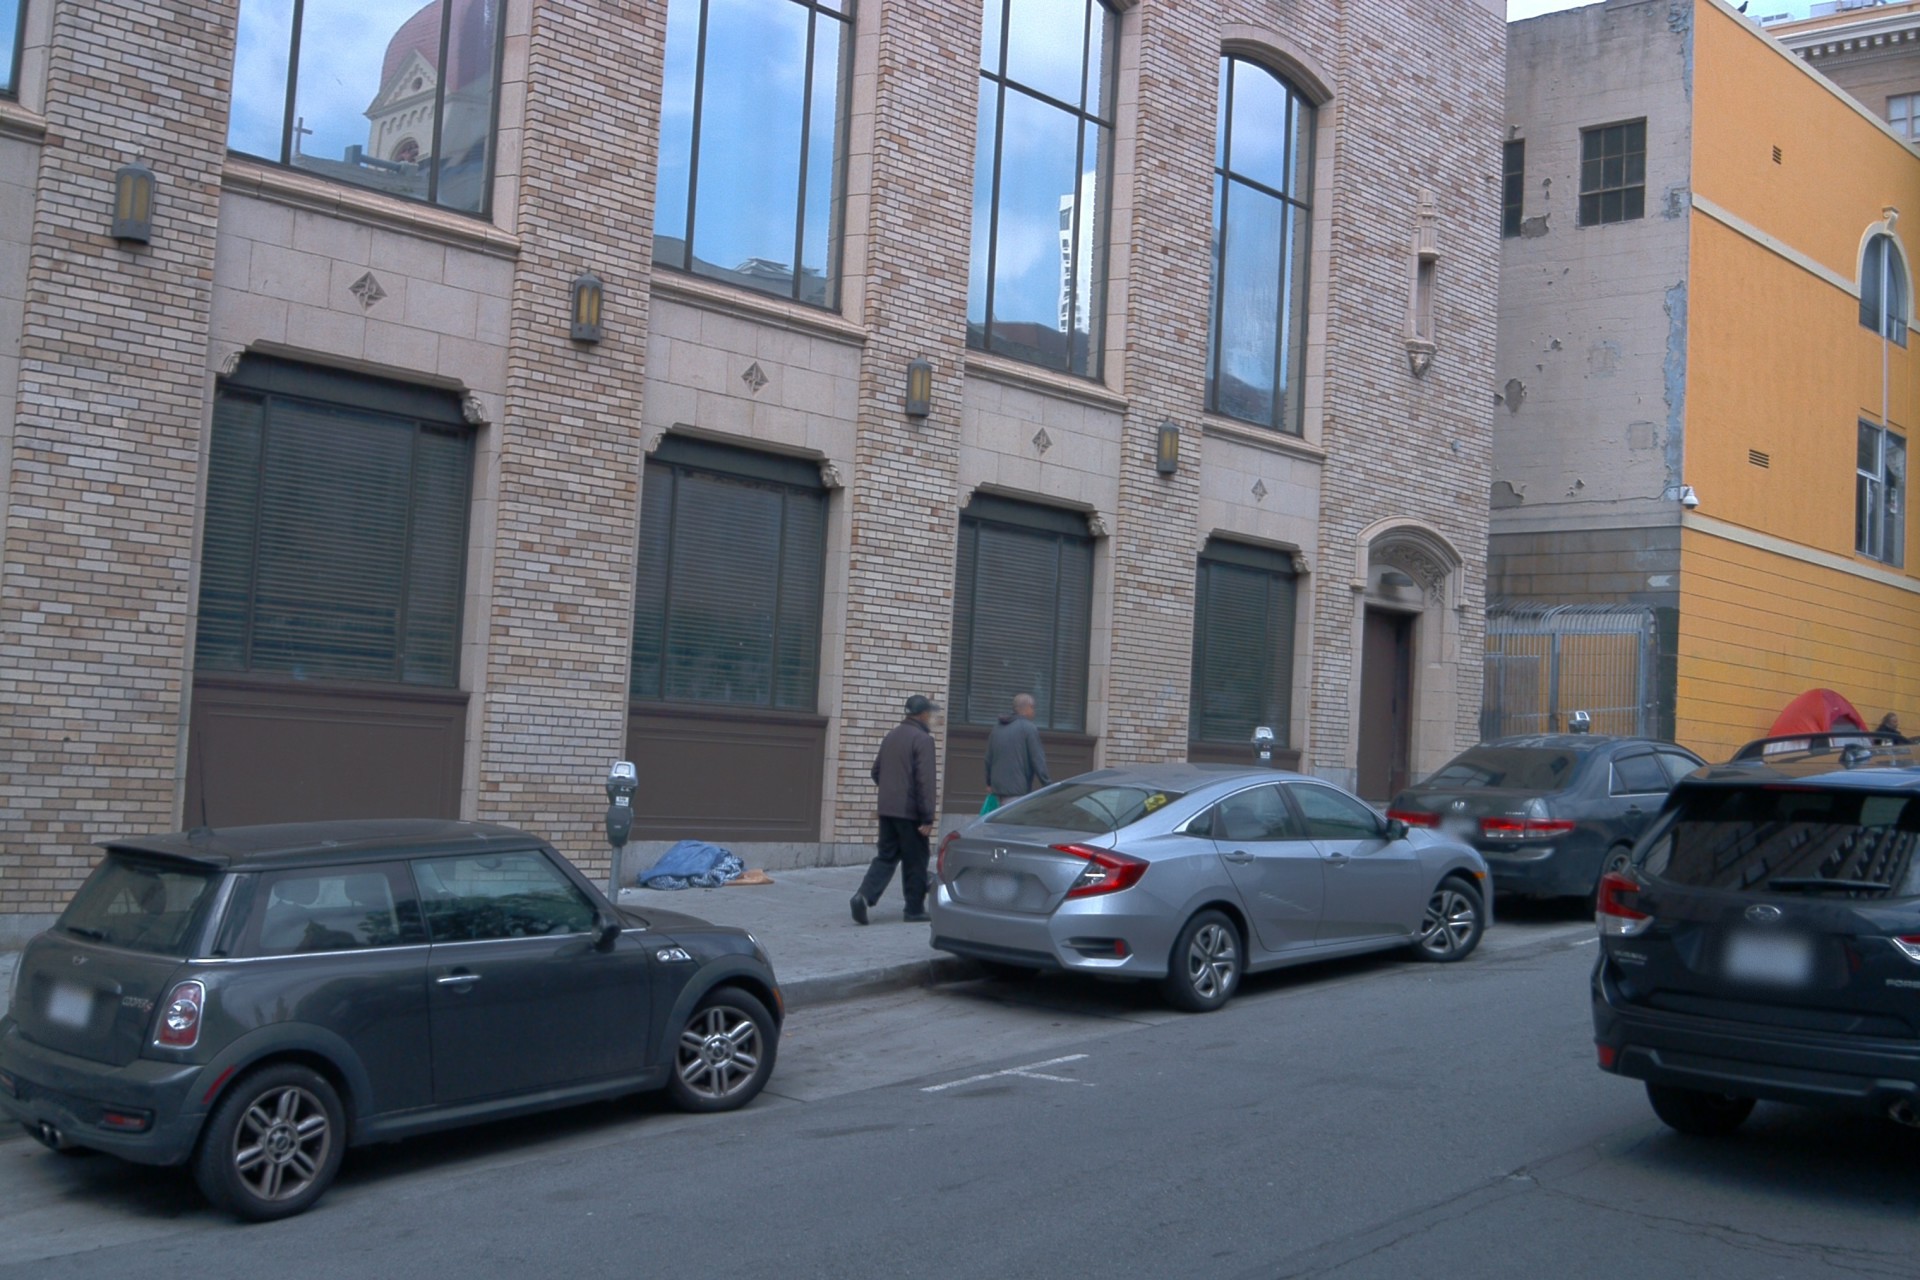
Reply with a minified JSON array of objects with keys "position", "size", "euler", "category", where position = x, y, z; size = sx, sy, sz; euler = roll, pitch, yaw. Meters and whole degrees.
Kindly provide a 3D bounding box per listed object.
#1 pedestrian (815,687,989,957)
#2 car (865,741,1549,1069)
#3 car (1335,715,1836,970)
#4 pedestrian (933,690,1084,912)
[{"position":[-0.416,1.261,14.785],"size":[0.870,1.810,0.897],"euler":[-1,1,-44],"category":"pedestrian"},{"position":[1.814,1.589,13.856],"size":[2.106,1.510,4.714],"euler":[1,1,45],"category":"car"},{"position":[5.464,1.586,17.661],"size":[2.141,1.640,4.710],"euler":[1,1,45],"category":"car"},{"position":[0.417,1.343,17.638],"size":[0.923,1.780,0.899],"euler":[-1,1,-45],"category":"pedestrian"}]
